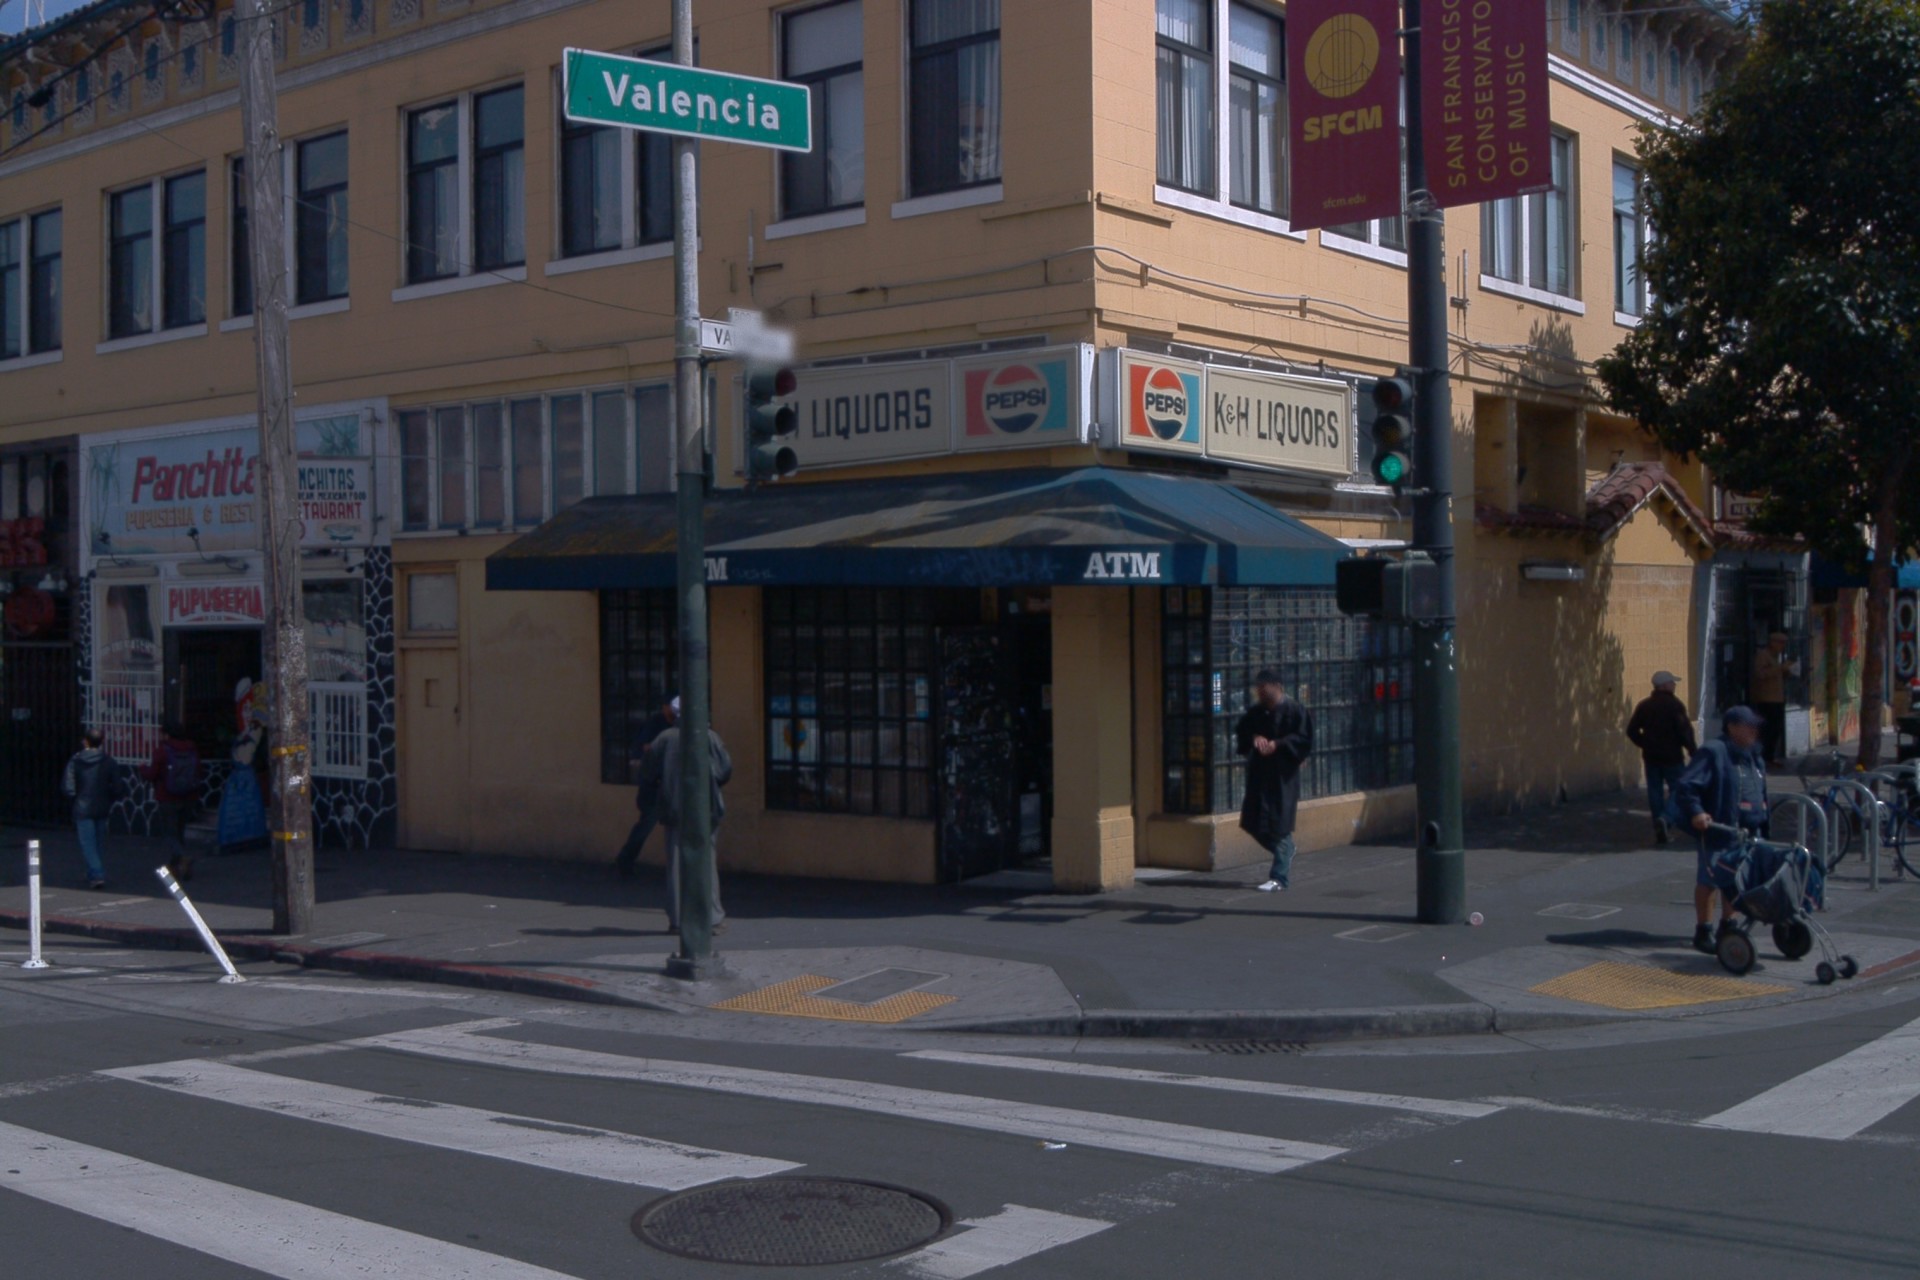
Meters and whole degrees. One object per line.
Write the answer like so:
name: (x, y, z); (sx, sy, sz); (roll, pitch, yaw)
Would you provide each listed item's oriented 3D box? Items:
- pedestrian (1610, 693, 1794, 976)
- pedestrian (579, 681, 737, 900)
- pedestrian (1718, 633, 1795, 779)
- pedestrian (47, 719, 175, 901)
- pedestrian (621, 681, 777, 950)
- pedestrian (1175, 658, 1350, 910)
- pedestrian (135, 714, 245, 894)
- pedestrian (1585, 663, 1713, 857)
pedestrian: (4.947, 1.270, 13.750); (0.869, 1.790, 0.824); (0, 1, -8)
pedestrian: (-2.677, 1.303, 18.224); (1.015, 1.830, 0.932); (0, 1, 35)
pedestrian: (10.587, 0.858, 27.318); (0.781, 1.890, 0.818); (0, 1, 35)
pedestrian: (-8.135, 1.601, 19.695); (0.879, 1.630, 0.918); (-1, 1, -40)
pedestrian: (-1.872, 1.232, 14.793); (0.907, 1.850, 0.712); (0, 1, 15)
pedestrian: (2.429, 1.116, 16.537); (0.959, 1.910, 0.997); (-1, 1, -38)
pedestrian: (-7.523, 1.575, 20.077); (0.744, 1.650, 0.865); (-1, 1, -40)
pedestrian: (6.476, 1.097, 19.304); (0.801, 1.730, 1.076); (0, 1, 40)
